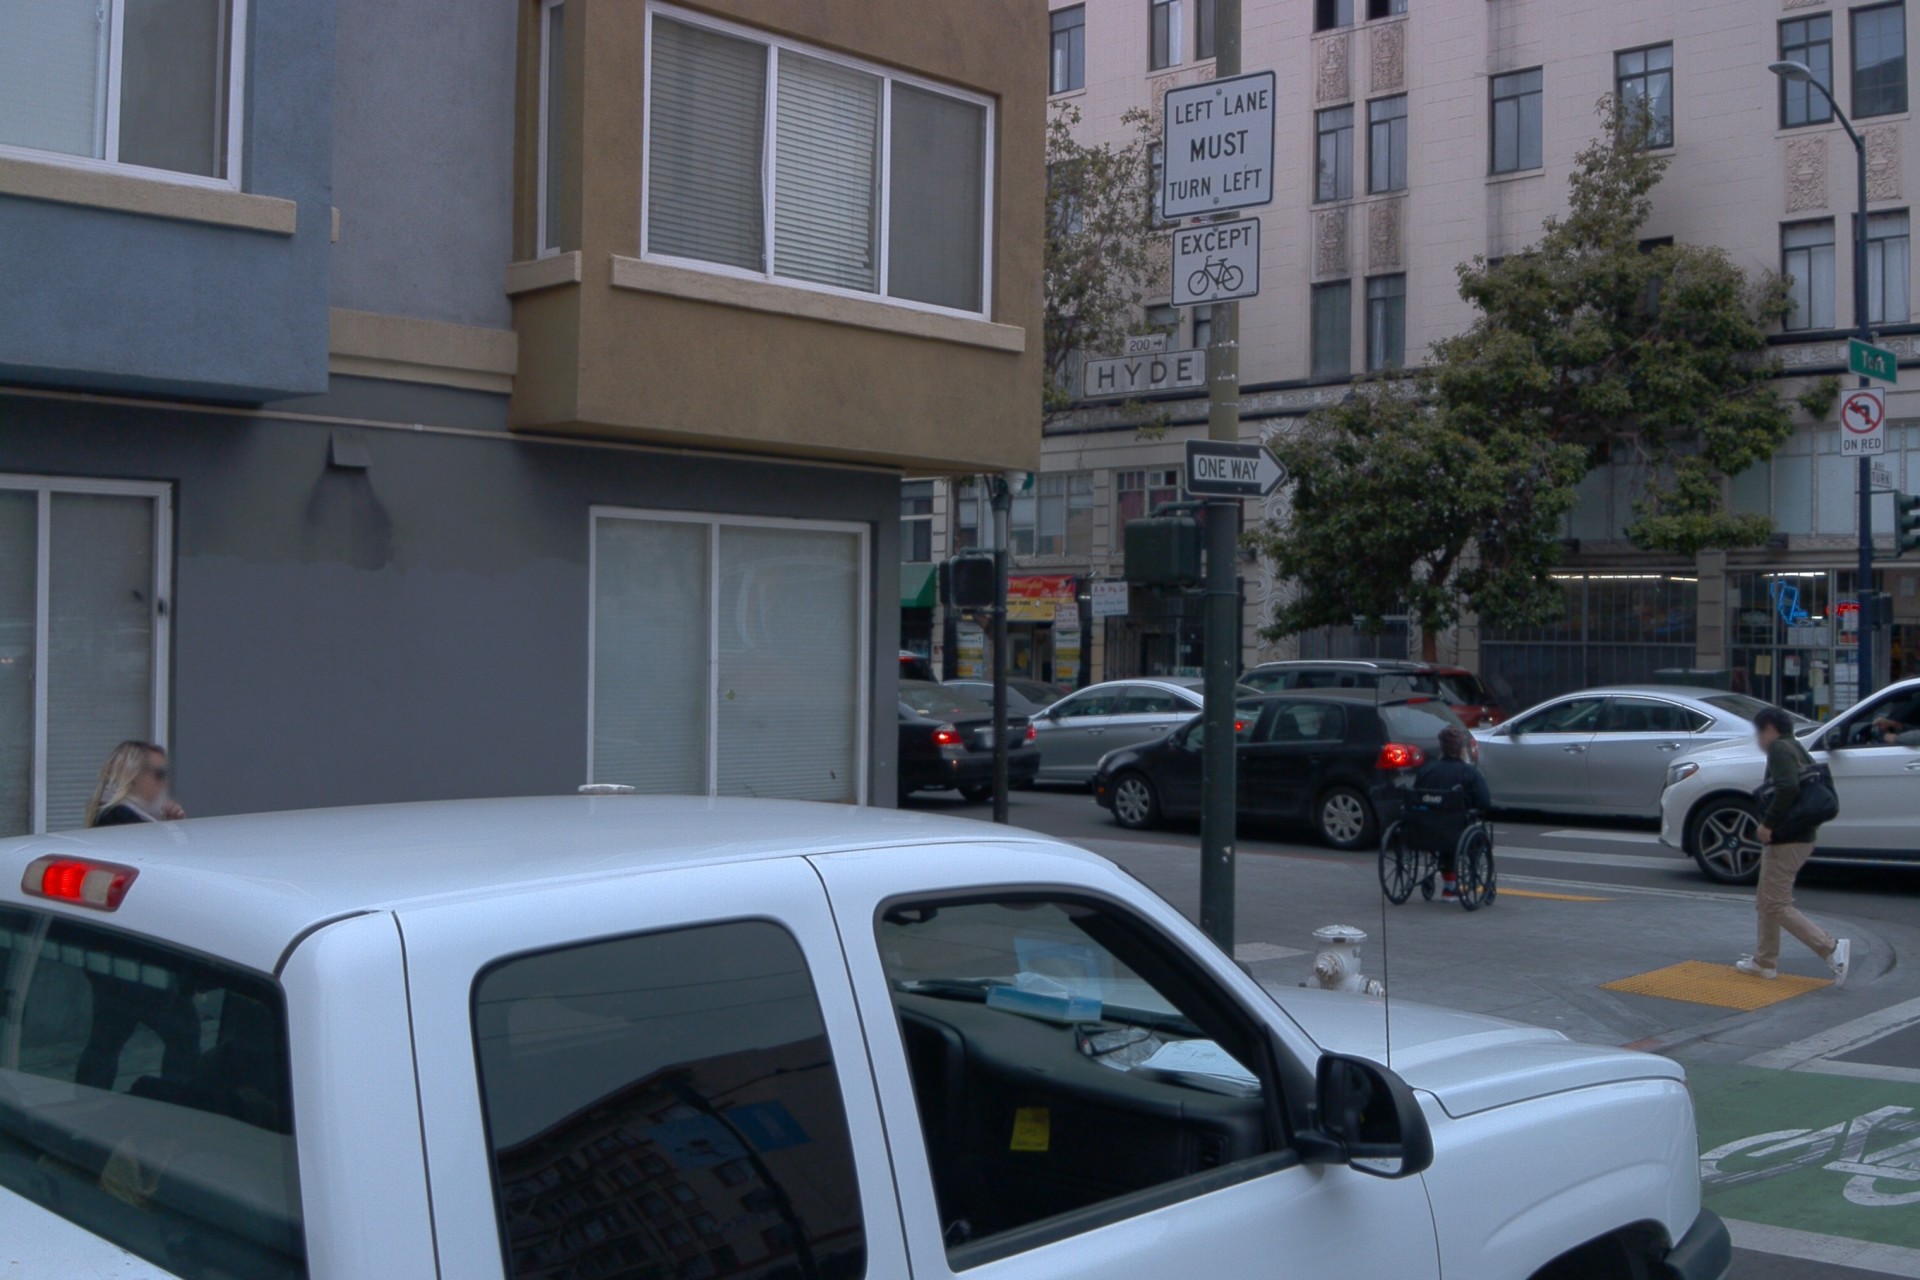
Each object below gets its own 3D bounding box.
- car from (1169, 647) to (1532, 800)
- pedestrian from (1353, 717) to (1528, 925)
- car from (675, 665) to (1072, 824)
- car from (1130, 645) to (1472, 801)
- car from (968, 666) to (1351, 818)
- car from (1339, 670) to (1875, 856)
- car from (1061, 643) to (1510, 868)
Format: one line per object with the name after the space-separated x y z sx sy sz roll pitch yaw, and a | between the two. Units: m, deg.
5.690 1.145 30.617 2.090 1.980 5.056 -1 1 -42 | car
3.503 1.284 15.017 0.883 1.370 1.026 1 1 38 | pedestrian
-1.137 1.181 25.083 4.803 1.600 2.070 1 1 44 | car
4.556 1.040 28.005 4.231 1.870 1.925 1 1 44 | car
2.407 1.192 25.856 1.939 1.600 4.599 -1 1 -44 | car
6.589 1.171 21.447 2.056 1.550 4.909 -1 1 -45 | car
3.196 1.052 20.868 1.871 1.950 4.194 -1 1 -45 | car
